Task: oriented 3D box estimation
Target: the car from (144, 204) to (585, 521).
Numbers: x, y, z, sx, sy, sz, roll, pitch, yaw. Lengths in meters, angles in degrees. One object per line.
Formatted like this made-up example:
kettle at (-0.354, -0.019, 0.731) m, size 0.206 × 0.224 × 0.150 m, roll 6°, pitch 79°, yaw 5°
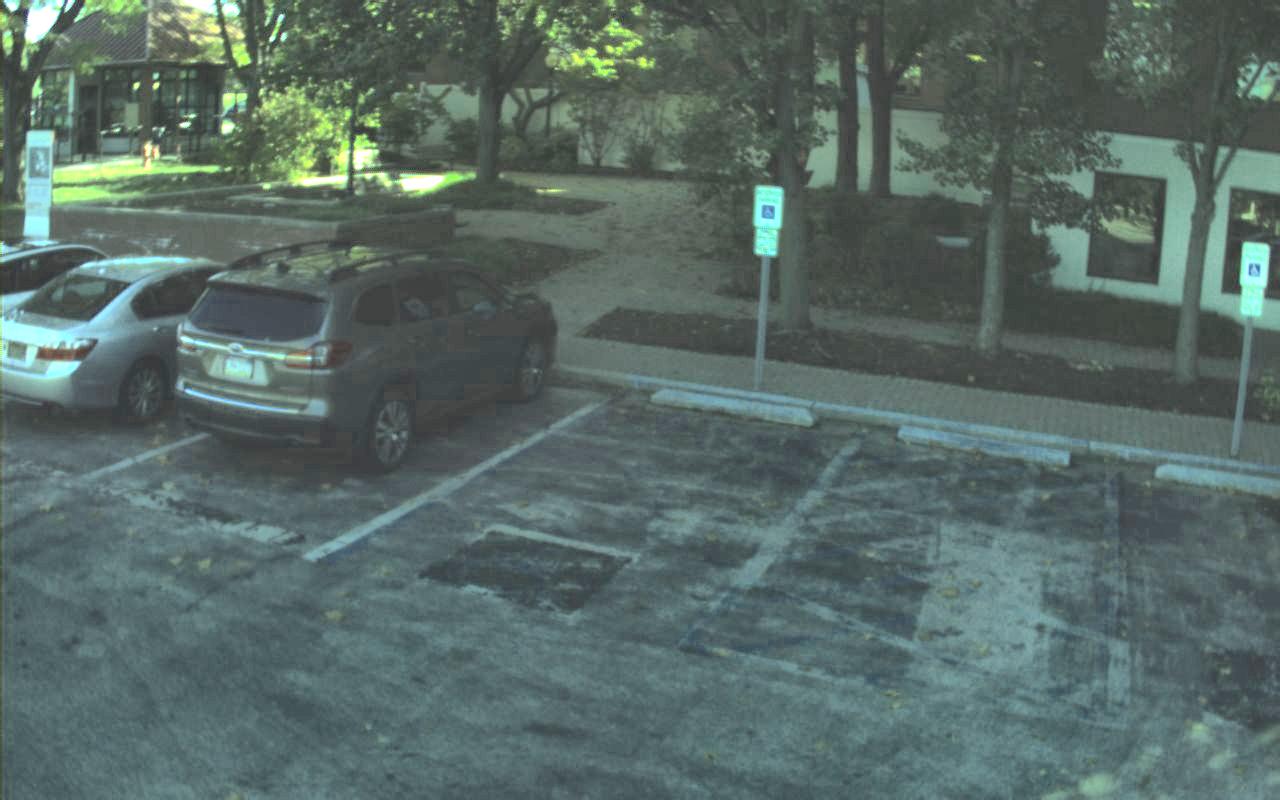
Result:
car at (-2.380, -0.635, 11.878) m, size 2.017 × 1.742 × 4.786 m, roll 5°, pitch 18°, yaw 19°

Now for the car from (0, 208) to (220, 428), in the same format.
car at (-7.266, -1.130, 13.861) m, size 1.949 × 1.617 × 4.466 m, roll 6°, pitch 18°, yaw 22°

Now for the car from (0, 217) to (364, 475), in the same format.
car at (-5.015, -0.751, 12.519) m, size 1.917 × 1.561 × 4.484 m, roll 7°, pitch 18°, yaw 24°
